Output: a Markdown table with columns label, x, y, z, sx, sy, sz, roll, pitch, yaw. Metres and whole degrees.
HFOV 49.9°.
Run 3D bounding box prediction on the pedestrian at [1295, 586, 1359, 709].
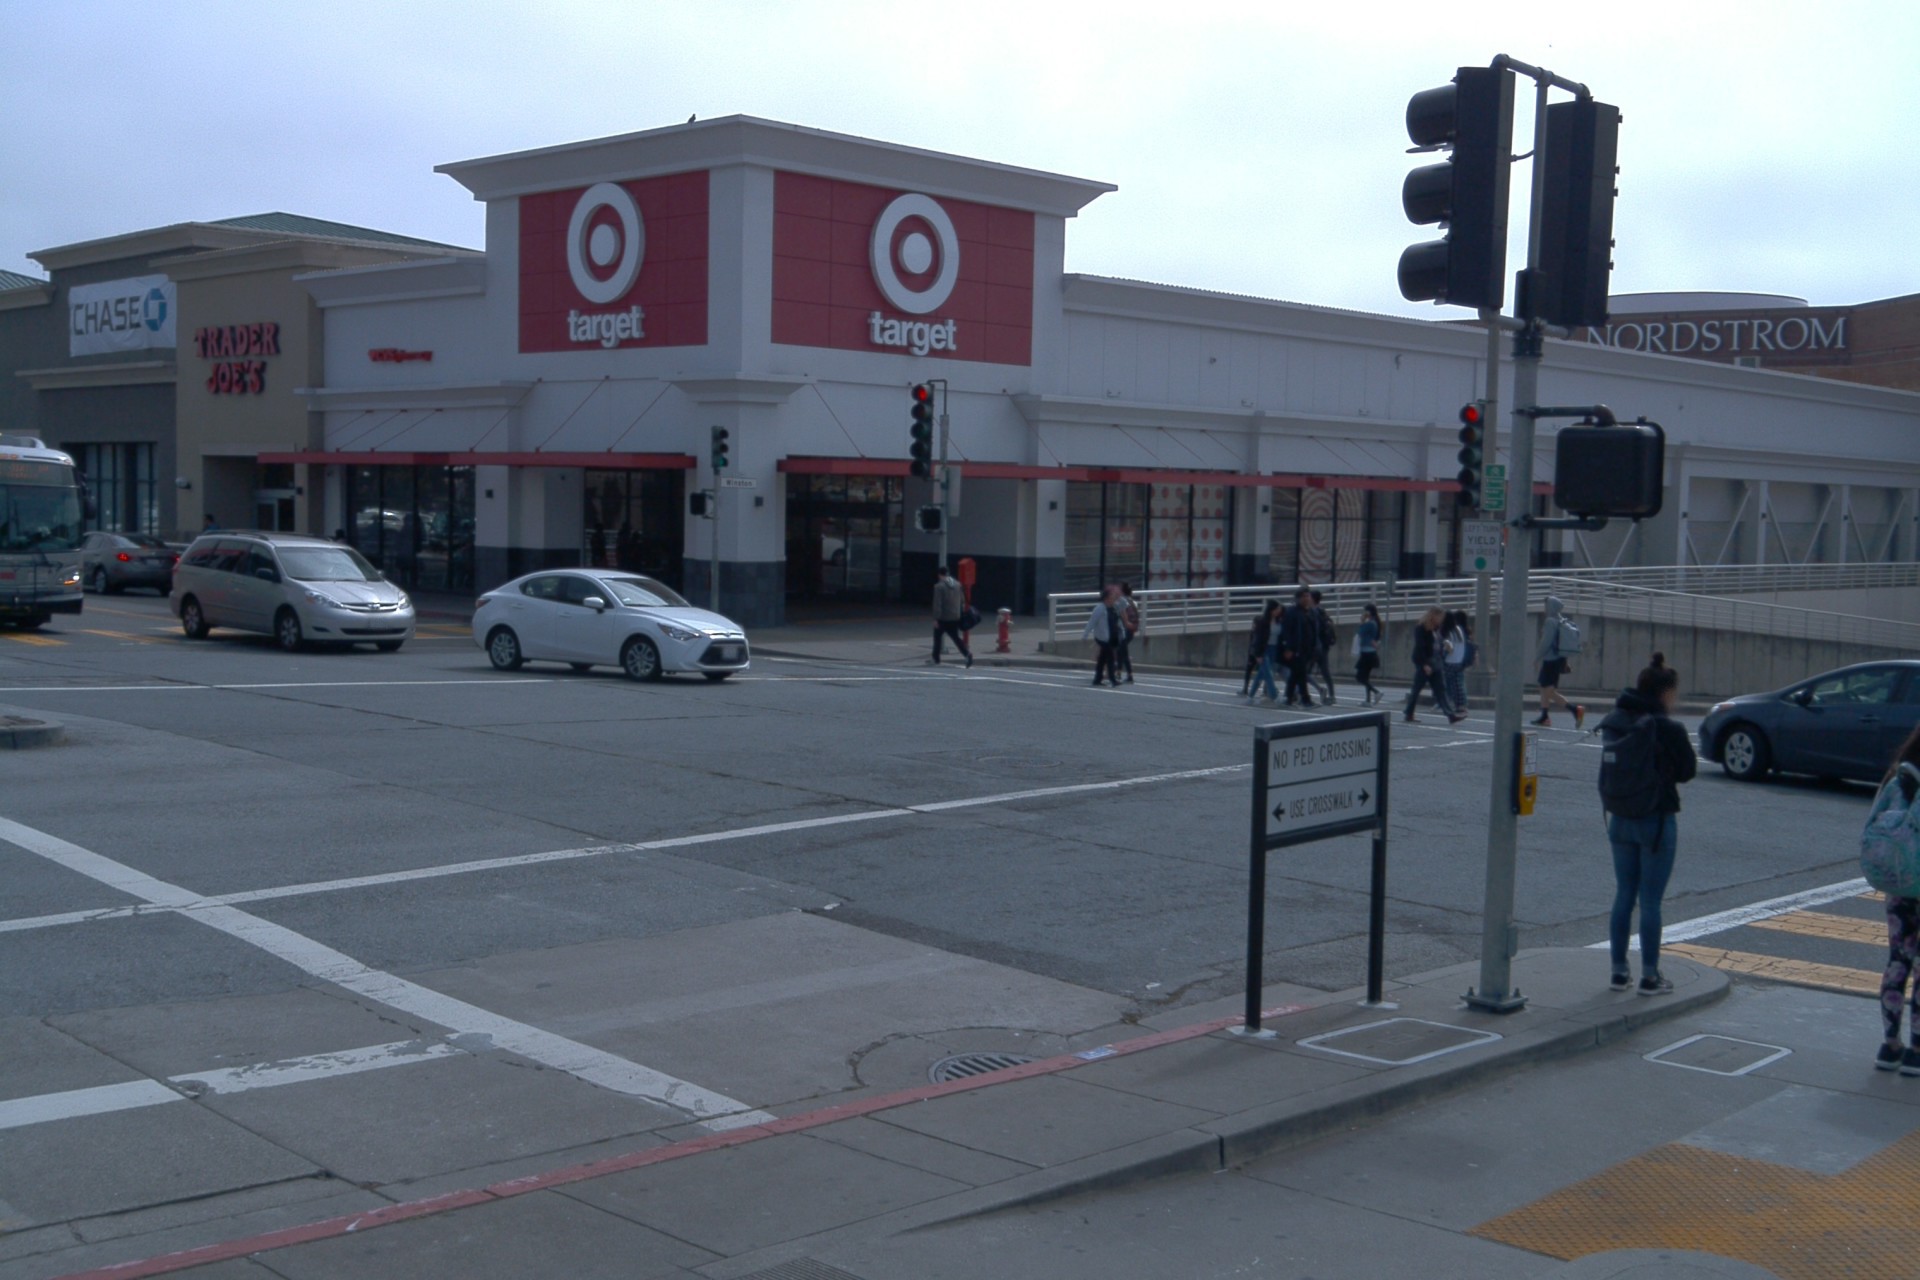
| label | x | y | z | sx | sy | sz | roll | pitch | yaw |
| --- | --- | --- | --- | --- | --- | --- | --- | --- | --- |
| pedestrian | 5.469 | 0.104 | 30.772 | 0.592 | 1.800 | 0.732 | -1 | 1 | -41 |

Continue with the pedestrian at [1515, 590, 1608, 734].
| label | x | y | z | sx | sy | sz | roll | pitch | yaw |
| --- | --- | --- | --- | --- | --- | --- | --- | --- | --- |
| pedestrian | 8.387 | 0.296 | 28.789 | 1.039 | 1.960 | 0.717 | 1 | 1 | 42 |

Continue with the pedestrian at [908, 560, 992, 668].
| label | x | y | z | sx | sy | sz | roll | pitch | yaw |
| --- | --- | --- | --- | --- | --- | --- | --- | --- | --- |
| pedestrian | -0.171 | -0.458 | 36.120 | 1.043 | 1.850 | 1.025 | 0 | 1 | 39 |

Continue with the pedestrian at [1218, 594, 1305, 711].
| label | x | y | z | sx | sy | sz | roll | pitch | yaw |
| --- | --- | --- | --- | --- | --- | --- | --- | --- | --- |
| pedestrian | 4.257 | 0.165 | 29.202 | 0.742 | 1.630 | 0.987 | -1 | 1 | -35 |

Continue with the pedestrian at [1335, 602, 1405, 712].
| label | x | y | z | sx | sy | sz | roll | pitch | yaw |
| --- | --- | --- | --- | --- | --- | --- | --- | --- | --- |
| pedestrian | 6.166 | 0.246 | 31.037 | 0.721 | 1.630 | 0.786 | 1 | 1 | 42 |

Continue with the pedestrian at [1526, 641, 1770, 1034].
| label | x | y | z | sx | sy | sz | roll | pitch | yaw |
| --- | --- | --- | --- | --- | --- | --- | --- | --- | --- |
| pedestrian | 3.320 | 0.892 | 9.936 | 0.843 | 1.760 | 0.940 | 0 | 1 | 38 |

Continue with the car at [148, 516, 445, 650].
| label | x | y | z | sx | sy | sz | roll | pitch | yaw |
| --- | --- | --- | --- | --- | --- | --- | --- | --- | --- |
| car | -10.693 | -0.874 | 33.056 | 5.161 | 1.970 | 2.221 | 1 | 1 | 42 |

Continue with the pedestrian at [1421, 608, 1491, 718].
| label | x | y | z | sx | sy | sz | roll | pitch | yaw |
| --- | --- | --- | --- | --- | --- | --- | --- | --- | --- |
| pedestrian | 7.441 | 0.334 | 30.951 | 0.890 | 1.630 | 0.611 | 0 | 1 | 28 |

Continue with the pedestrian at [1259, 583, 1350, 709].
| label | x | y | z | sx | sy | sz | roll | pitch | yaw |
| --- | --- | --- | --- | --- | --- | --- | --- | --- | --- |
| pedestrian | 4.882 | 0.074 | 29.251 | 0.795 | 1.750 | 1.018 | -1 | 1 | -34 |

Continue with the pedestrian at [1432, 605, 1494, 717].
| label | x | y | z | sx | sy | sz | roll | pitch | yaw |
| --- | --- | --- | --- | --- | --- | --- | --- | --- | --- |
| pedestrian | 7.648 | 0.305 | 31.359 | 0.804 | 1.680 | 0.508 | 0 | 1 | 29 |

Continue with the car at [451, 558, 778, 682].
| label | x | y | z | sx | sy | sz | roll | pitch | yaw |
| --- | --- | --- | --- | --- | --- | --- | --- | --- | --- |
| car | -4.822 | -0.284 | 28.580 | 4.369 | 1.600 | 1.885 | 0 | 1 | 35 |

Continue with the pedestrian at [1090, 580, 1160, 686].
| label | x | y | z | sx | sy | sz | roll | pitch | yaw |
| --- | --- | --- | --- | --- | --- | --- | --- | --- | --- |
| pedestrian | 2.674 | -0.116 | 33.449 | 0.895 | 1.700 | 0.689 | 1 | 1 | 43 |

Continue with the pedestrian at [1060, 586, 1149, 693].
| label | x | y | z | sx | sy | sz | roll | pitch | yaw |
| --- | --- | --- | --- | --- | --- | --- | --- | --- | --- |
| pedestrian | 2.219 | -0.020 | 31.701 | 0.972 | 1.610 | 0.944 | 1 | 1 | 44 |

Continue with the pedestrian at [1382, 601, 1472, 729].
| label | x | y | z | sx | sy | sz | roll | pitch | yaw |
| --- | --- | --- | --- | --- | --- | --- | --- | --- | --- |
| pedestrian | 6.252 | 0.322 | 27.607 | 0.926 | 1.680 | 0.769 | 1 | 1 | 40 |
